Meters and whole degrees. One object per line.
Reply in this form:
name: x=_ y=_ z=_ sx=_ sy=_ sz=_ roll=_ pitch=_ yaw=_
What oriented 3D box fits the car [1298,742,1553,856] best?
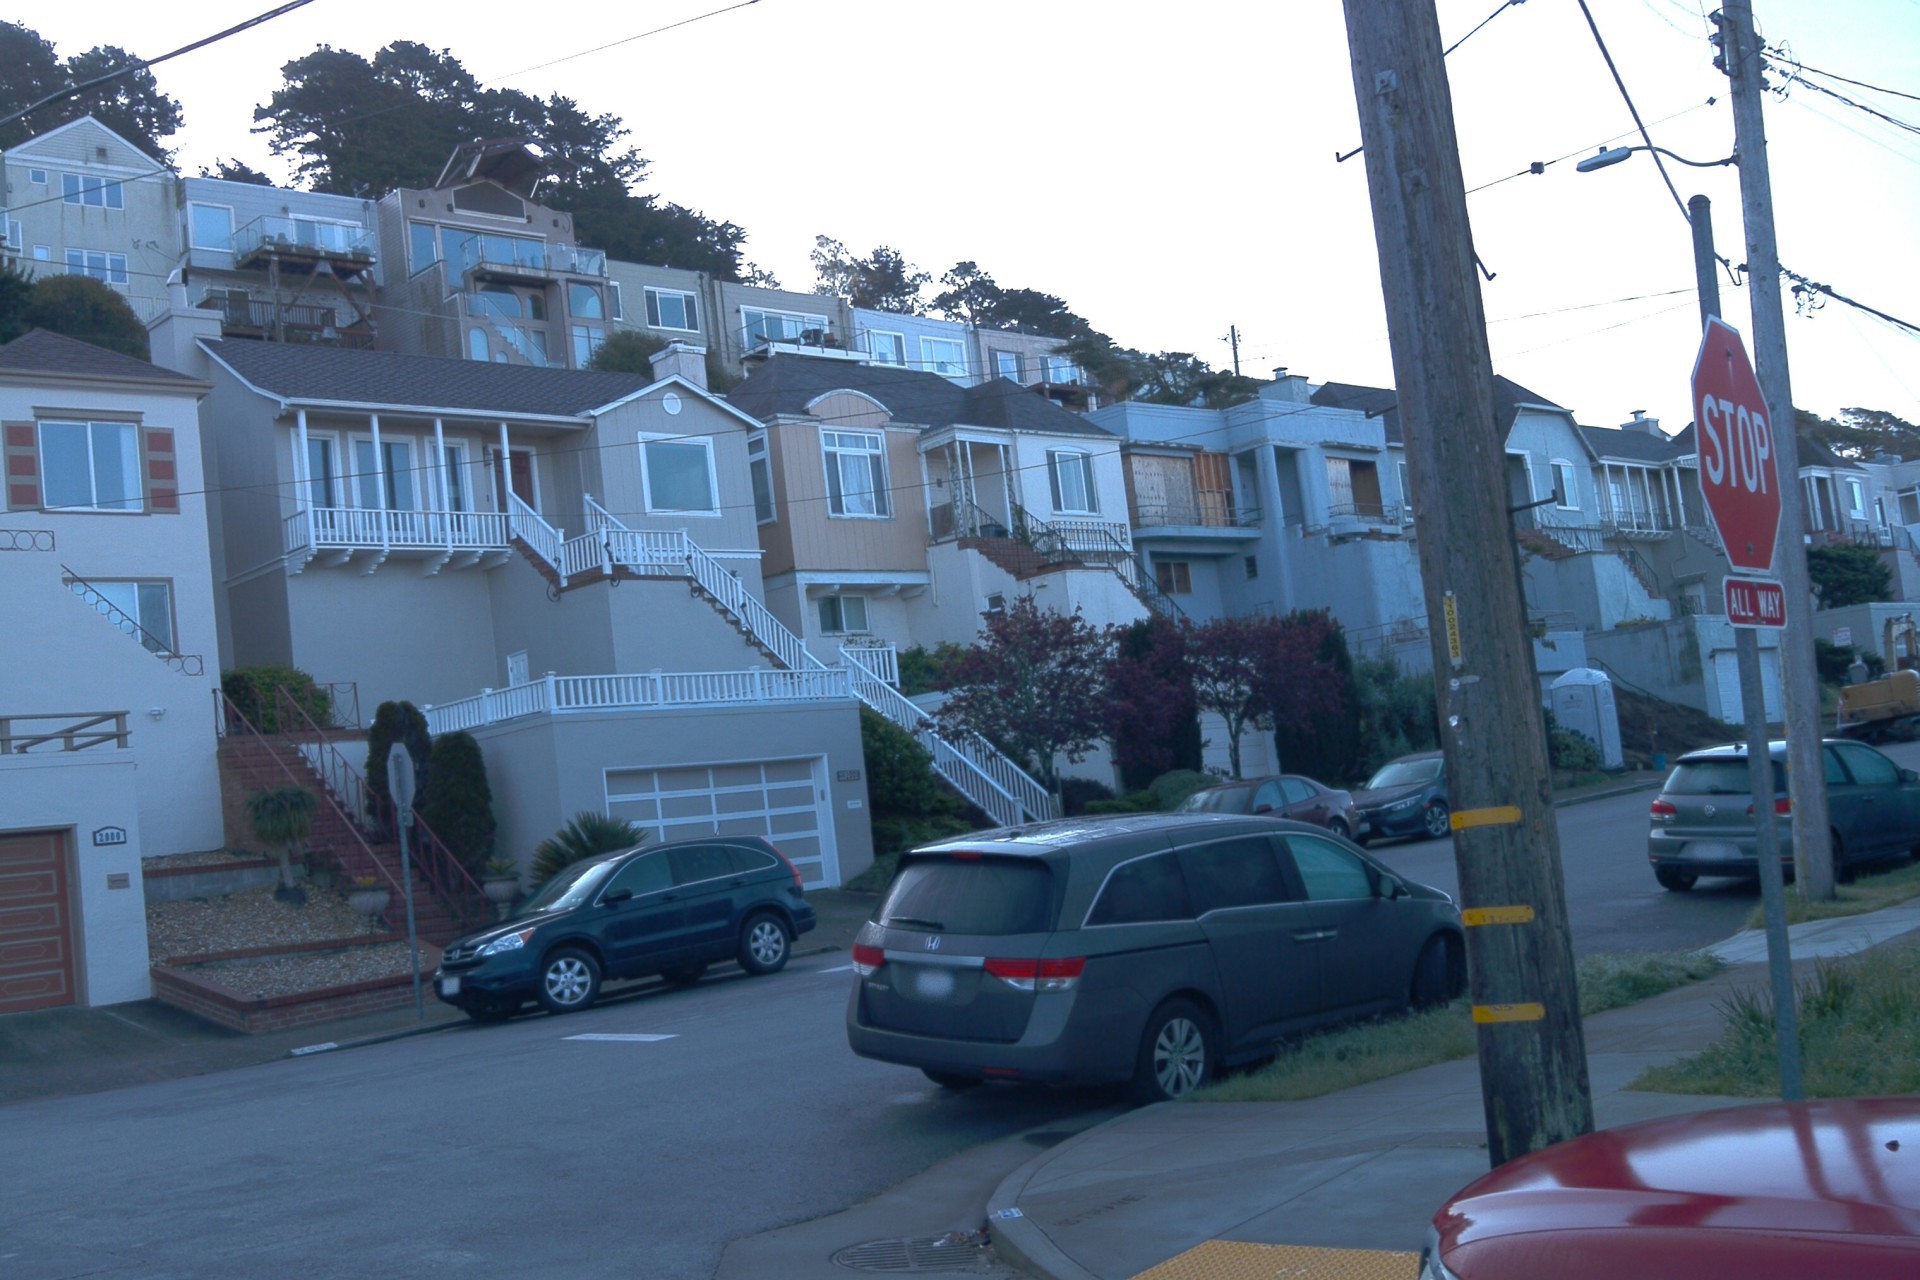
car: x=7.943 y=2.618 z=34.853 sx=2.163 sy=1.560 sz=4.754 roll=0 pitch=0 yaw=42

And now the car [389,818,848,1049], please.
car: x=-3.748 y=3.170 z=23.175 sx=4.680 sy=1.910 sz=2.207 roll=0 pitch=0 yaw=-44

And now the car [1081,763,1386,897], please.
car: x=4.181 y=2.770 z=30.913 sx=2.151 sy=1.560 sz=4.797 roll=0 pitch=0 yaw=43

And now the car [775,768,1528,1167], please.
car: x=1.495 y=1.966 z=14.008 sx=2.390 sy=1.860 sz=5.188 roll=0 pitch=0 yaw=44
